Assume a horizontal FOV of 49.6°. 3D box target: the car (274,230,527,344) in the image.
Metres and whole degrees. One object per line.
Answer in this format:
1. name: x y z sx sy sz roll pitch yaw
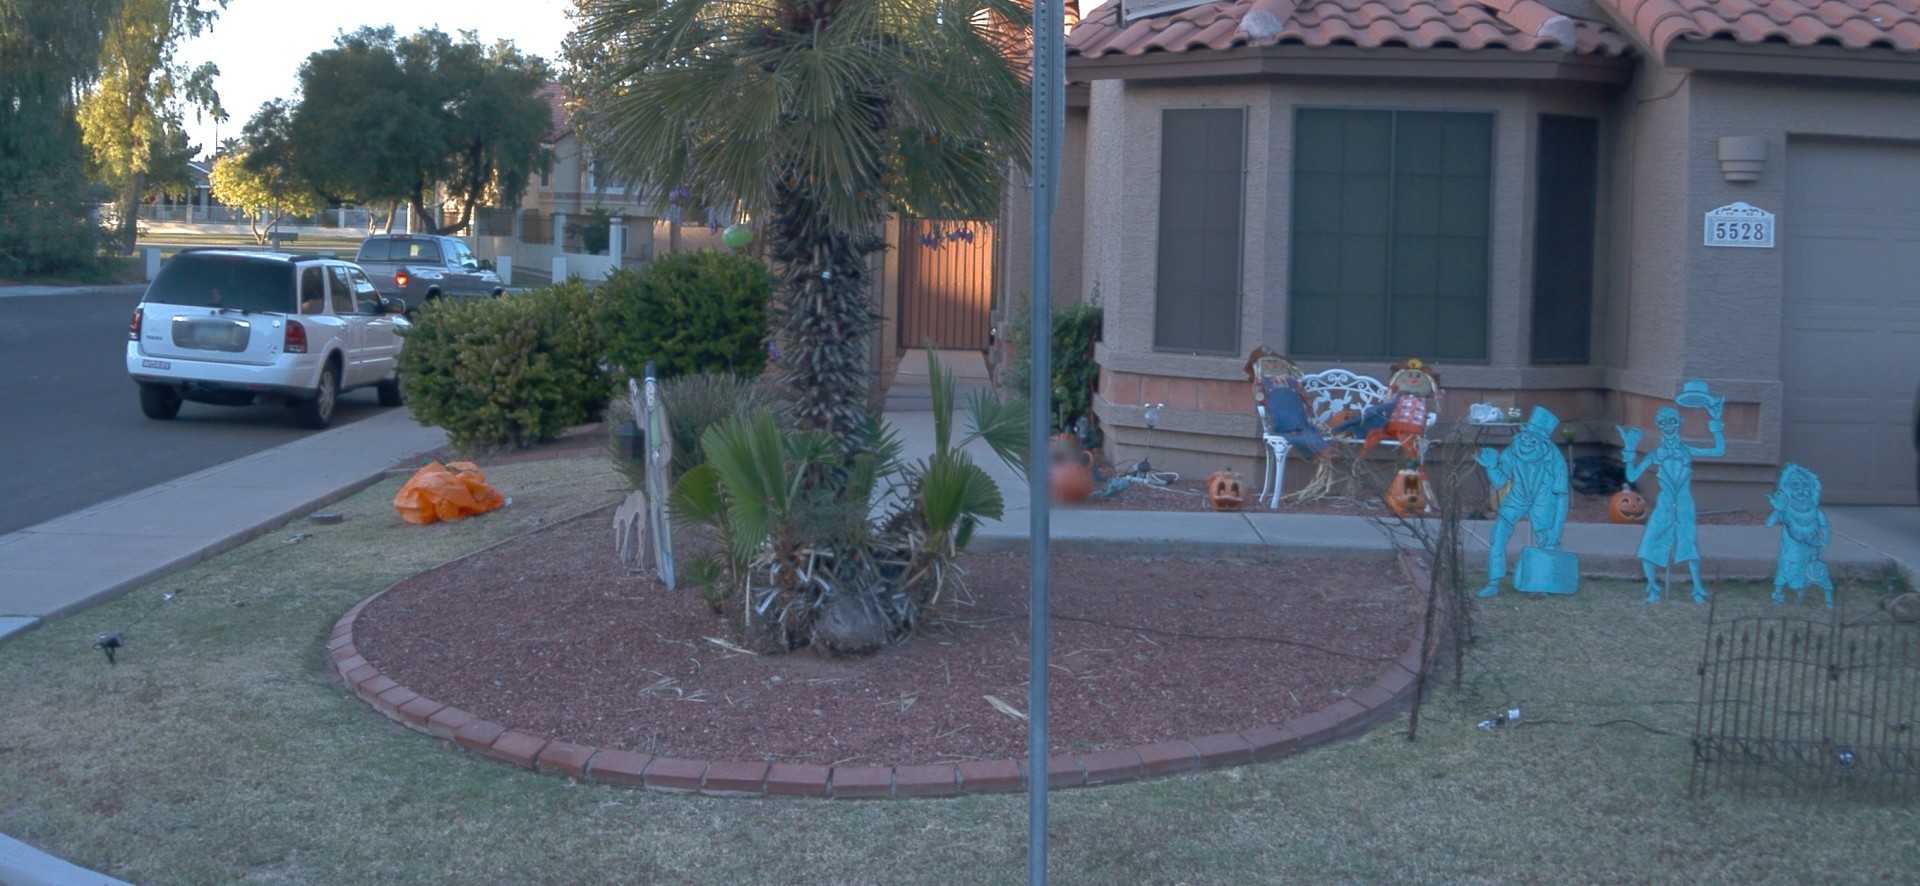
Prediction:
1. car: -9.661 -2.799 36.479 2.248 1.803 5.670 1 5 8

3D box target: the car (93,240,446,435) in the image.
1. car: -7.177 -1.235 22.189 2.123 1.833 4.714 1 5 1
